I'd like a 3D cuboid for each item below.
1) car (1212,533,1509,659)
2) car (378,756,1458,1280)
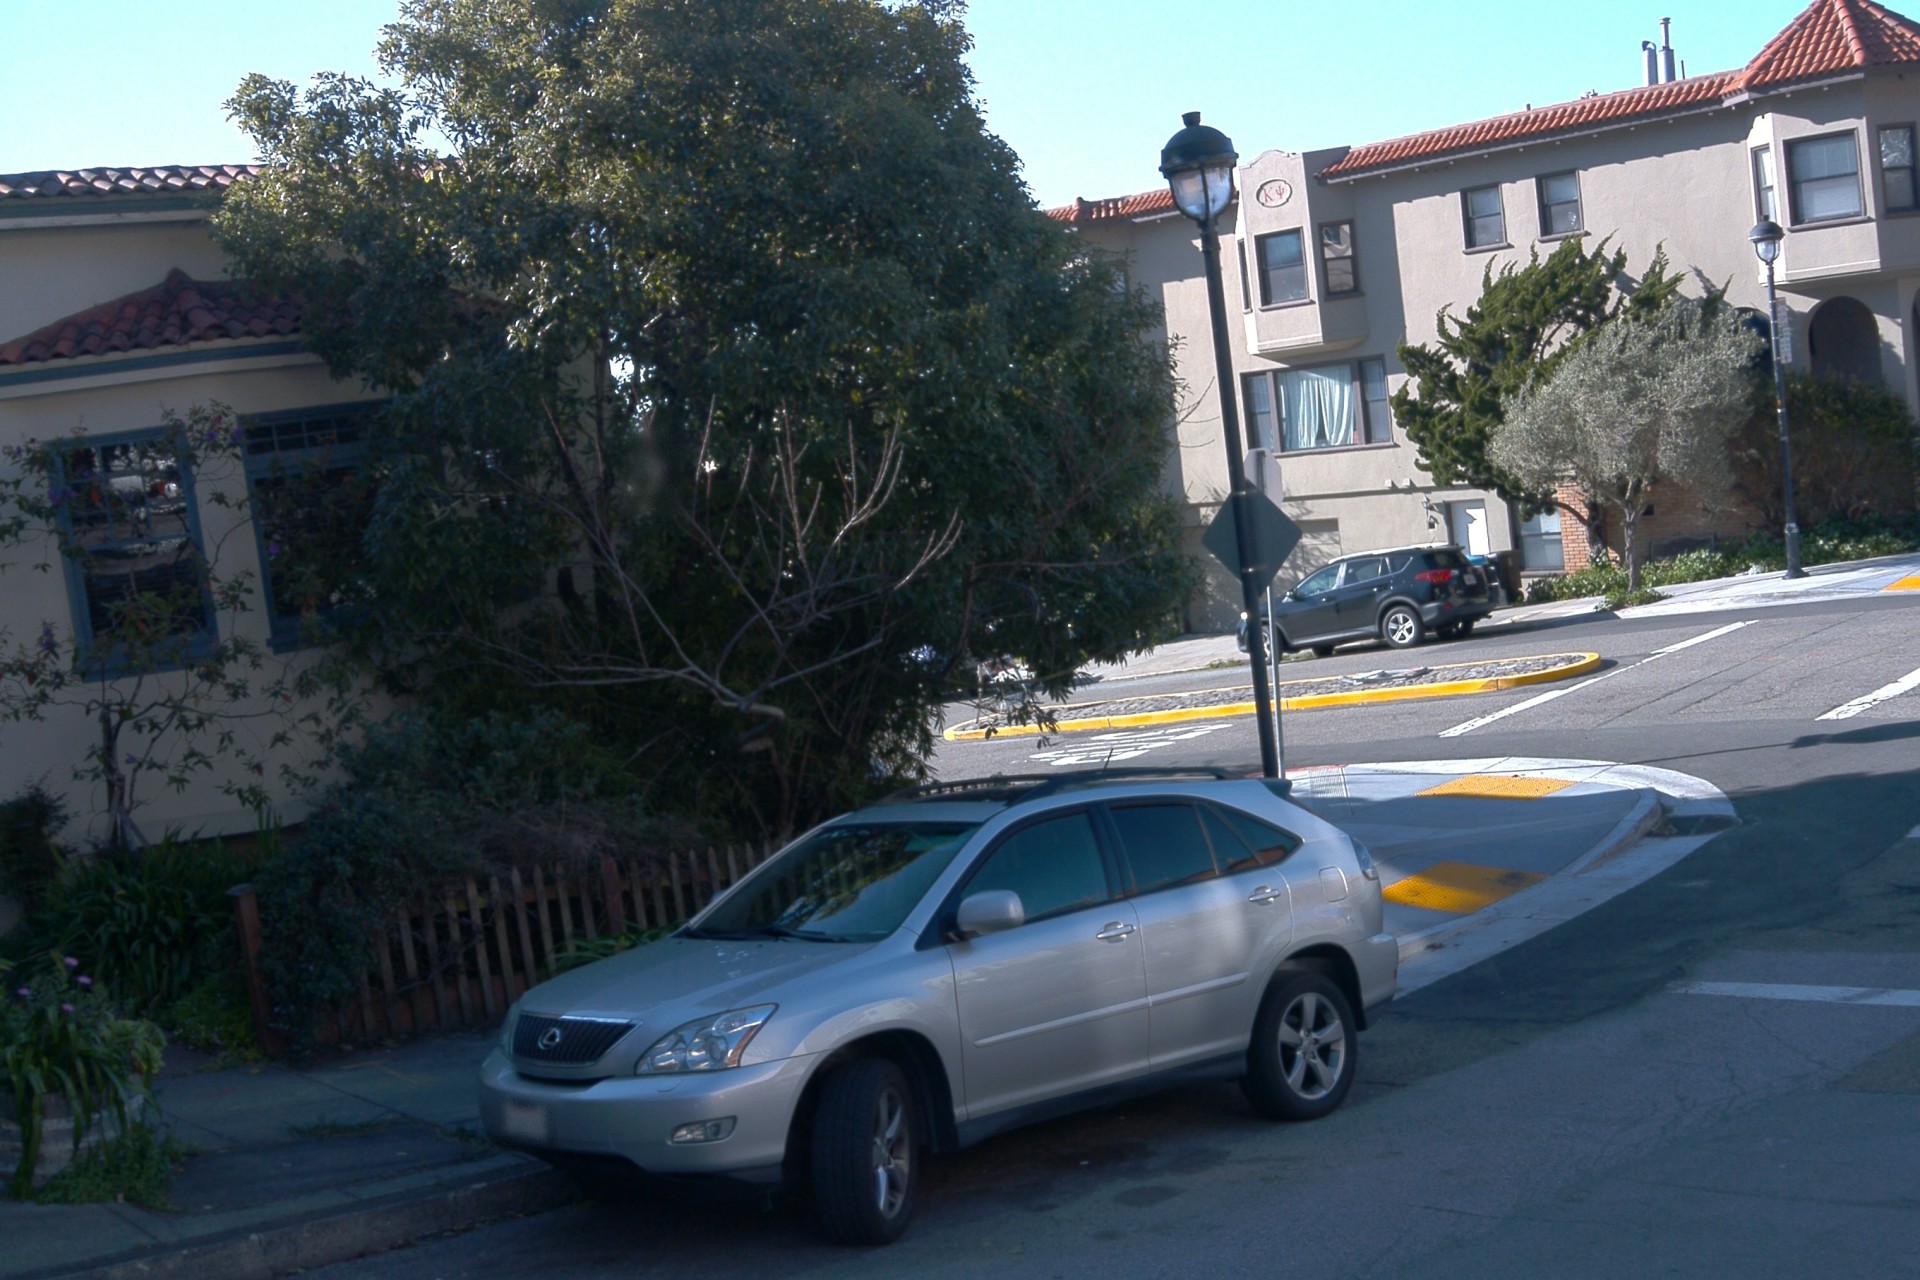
[{"bbox_3d":[6.801,-0.701,35.529,2.204,2.020,4.526,0,0,-45],"label":"car"},{"bbox_3d":[0.017,1.576,9.407,4.666,1.810,2.097,-1,0,-42],"label":"car"}]
